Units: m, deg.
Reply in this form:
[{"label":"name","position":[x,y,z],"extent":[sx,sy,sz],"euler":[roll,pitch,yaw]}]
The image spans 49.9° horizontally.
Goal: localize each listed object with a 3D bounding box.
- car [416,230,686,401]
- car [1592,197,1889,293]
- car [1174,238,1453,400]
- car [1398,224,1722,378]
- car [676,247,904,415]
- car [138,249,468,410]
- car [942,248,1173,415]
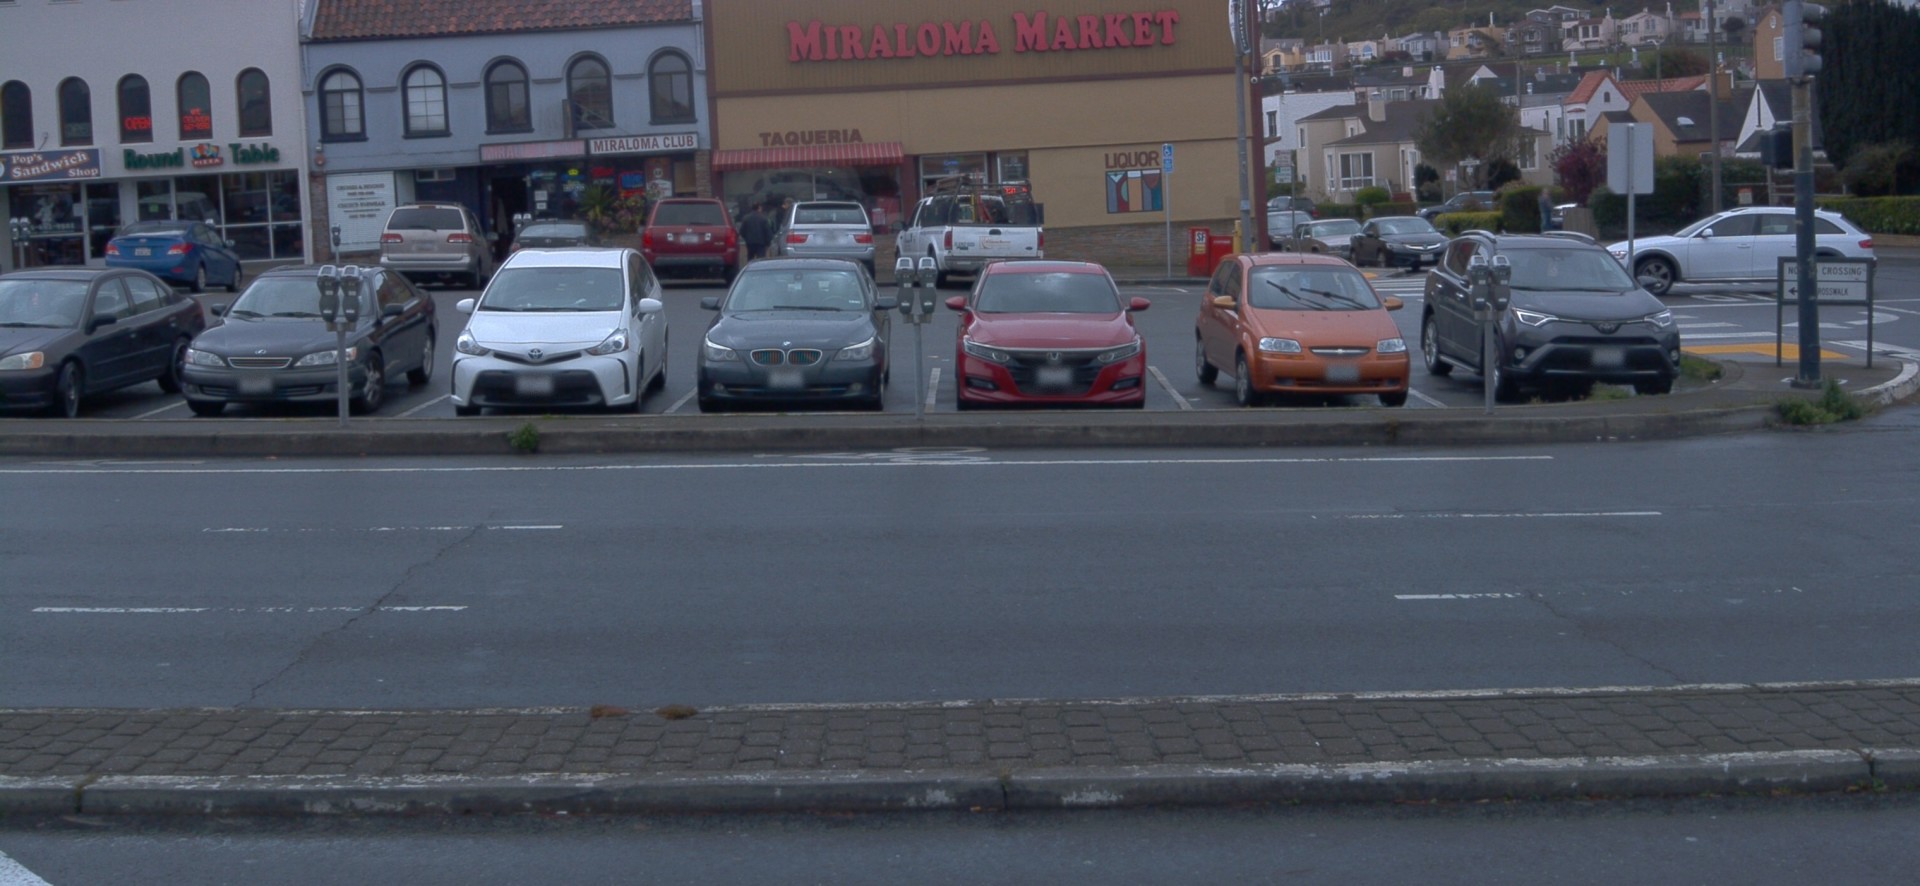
[{"label":"car","position":[-4.067,-1.415,21.317],"extent":[2.132,1.491,4.678],"euler":[0,6,-4]},{"label":"car","position":[13.623,-3.513,36.285],"extent":[4.643,1.604,2.085],"euler":[1,5,12]},{"label":"car","position":[3.605,-1.395,21.811],"extent":[2.049,1.462,4.037],"euler":[0,6,-4]},{"label":"car","position":[6.387,-1.639,22.575],"extent":[2.205,1.461,4.580],"euler":[0,6,0]},{"label":"car","position":[-1.659,-1.268,21.658],"extent":[2.112,1.461,4.574],"euler":[0,6,-1]},{"label":"car","position":[-6.720,-1.283,21.702],"extent":[2.023,1.392,4.712],"euler":[0,6,-1]},{"label":"car","position":[0.905,-1.271,21.830],"extent":[2.185,1.461,4.636],"euler":[0,6,-1]}]
